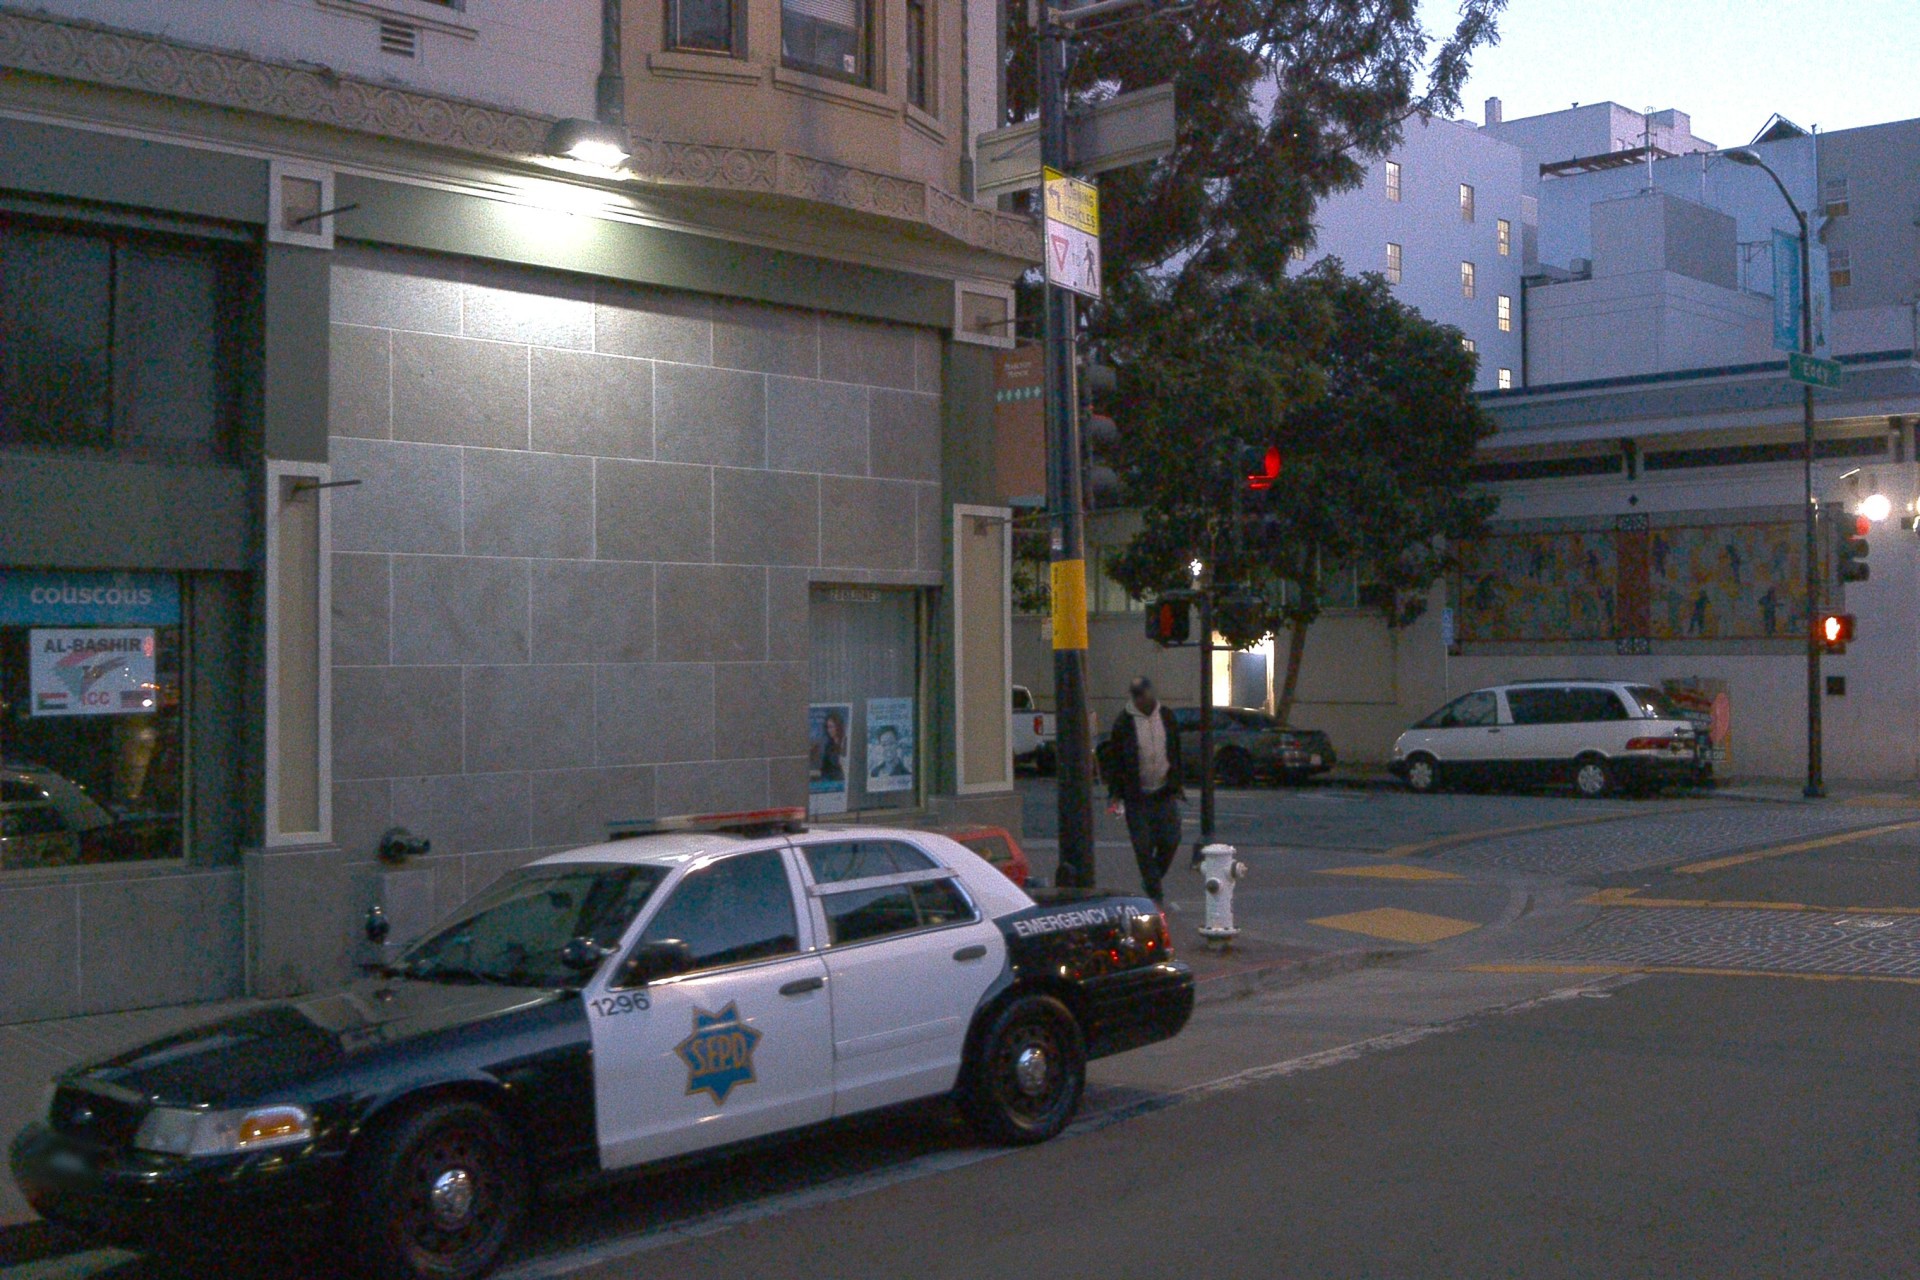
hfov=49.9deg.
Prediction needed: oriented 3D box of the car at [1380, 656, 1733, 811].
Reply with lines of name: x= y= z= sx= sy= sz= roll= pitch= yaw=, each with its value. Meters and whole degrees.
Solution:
car: x=9.059 y=1.344 z=31.636 sx=4.809 sy=2.080 sz=2.006 roll=1 pitch=1 yaw=44

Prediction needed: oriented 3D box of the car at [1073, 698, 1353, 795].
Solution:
car: x=4.395 y=1.826 z=36.417 sx=1.916 sy=1.390 sz=4.727 roll=-1 pitch=1 yaw=-45

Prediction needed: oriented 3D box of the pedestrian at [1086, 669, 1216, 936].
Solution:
pedestrian: x=1.474 y=1.234 z=16.037 sx=0.979 sy=1.990 sz=0.869 roll=0 pitch=1 yaw=4
